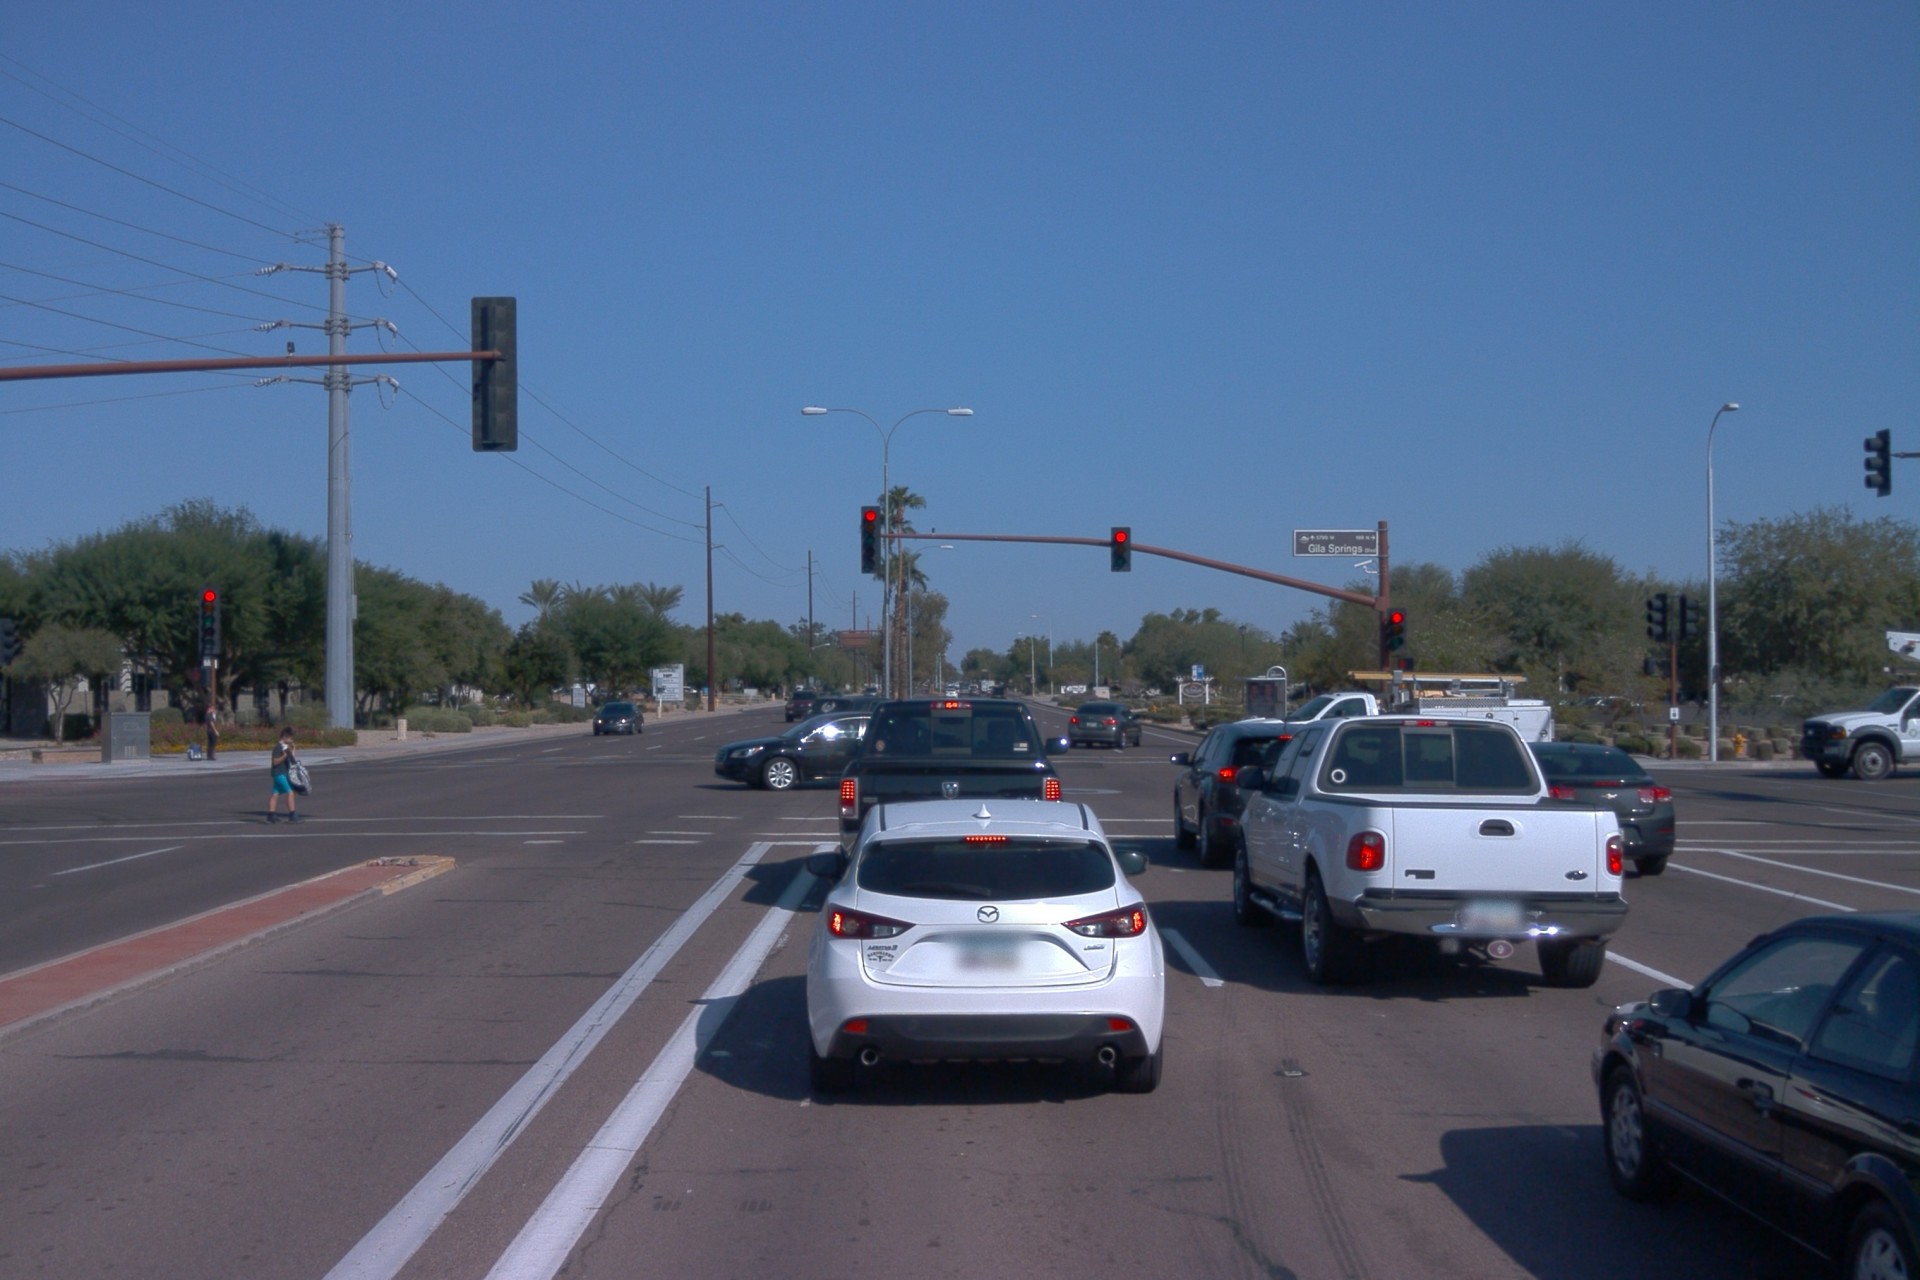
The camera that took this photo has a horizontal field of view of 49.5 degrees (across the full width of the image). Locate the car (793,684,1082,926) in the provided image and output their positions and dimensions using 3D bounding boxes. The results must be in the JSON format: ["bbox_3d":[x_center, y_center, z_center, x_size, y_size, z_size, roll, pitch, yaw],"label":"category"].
[{"bbox_3d":[-0.117,1.491,20.516,2.500,2.080,5.001,0,-1,2],"label":"car"}]

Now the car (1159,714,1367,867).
[{"bbox_3d":[3.500,1.711,24.781,1.789,1.630,4.213,0,-1,-1],"label":"car"}]

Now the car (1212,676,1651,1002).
[{"bbox_3d":[3.330,1.336,15.982,2.073,2.070,5.518,0,-1,0],"label":"car"}]

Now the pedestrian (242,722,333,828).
[{"bbox_3d":[-9.833,1.967,30.465,1.087,1.530,0.743,0,-1,0],"label":"pedestrian"}]

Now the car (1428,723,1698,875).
[{"bbox_3d":[6.840,1.759,24.106,1.828,1.540,4.447,0,-1,0],"label":"car"}]

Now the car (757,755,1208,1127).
[{"bbox_3d":[0.114,1.529,12.024,2.099,1.600,4.628,0,-1,0],"label":"car"}]
